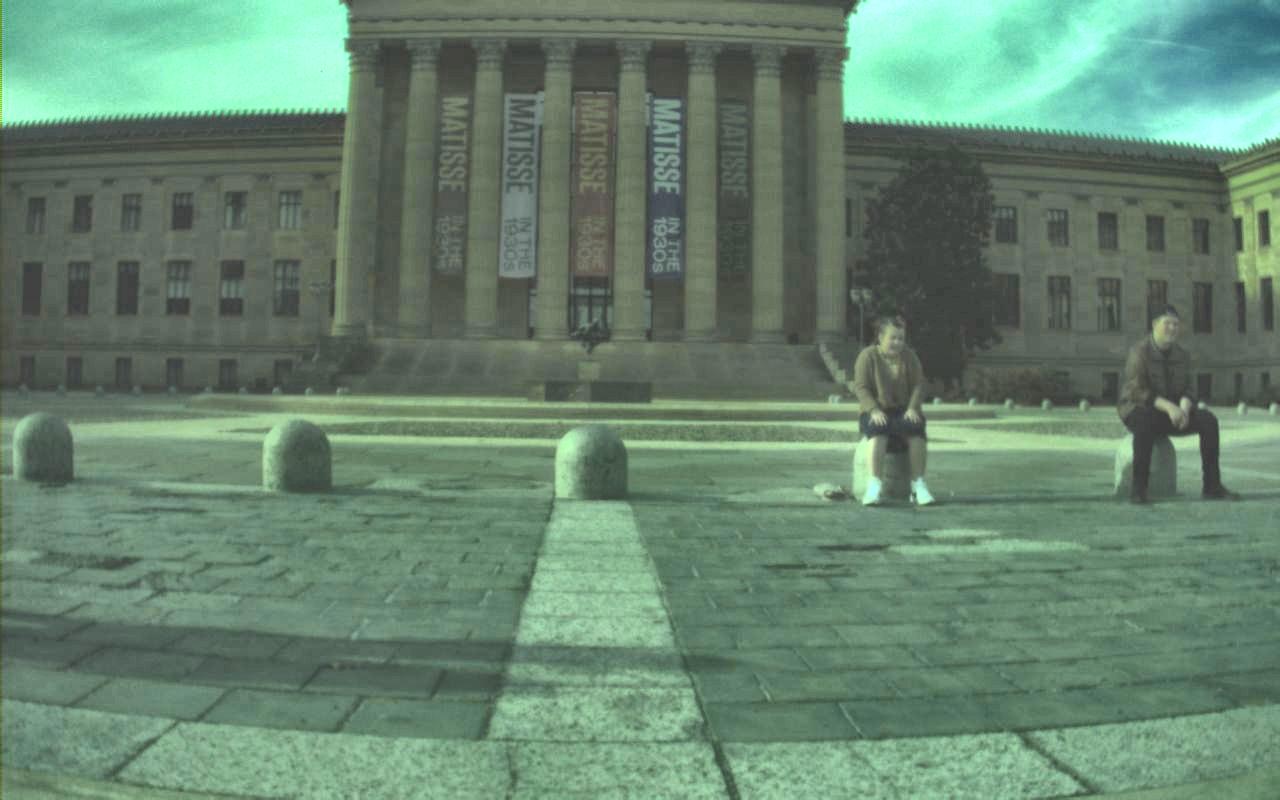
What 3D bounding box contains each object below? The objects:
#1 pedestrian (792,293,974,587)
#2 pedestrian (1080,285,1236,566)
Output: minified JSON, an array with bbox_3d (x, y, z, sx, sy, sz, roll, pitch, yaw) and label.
[{"bbox_3d":[1.552,0.232,7.926,0.814,1.752,0.816,0,0,-36],"label":"pedestrian"},{"bbox_3d":[3.475,0.171,7.889,0.835,1.784,0.841,0,0,2],"label":"pedestrian"}]
